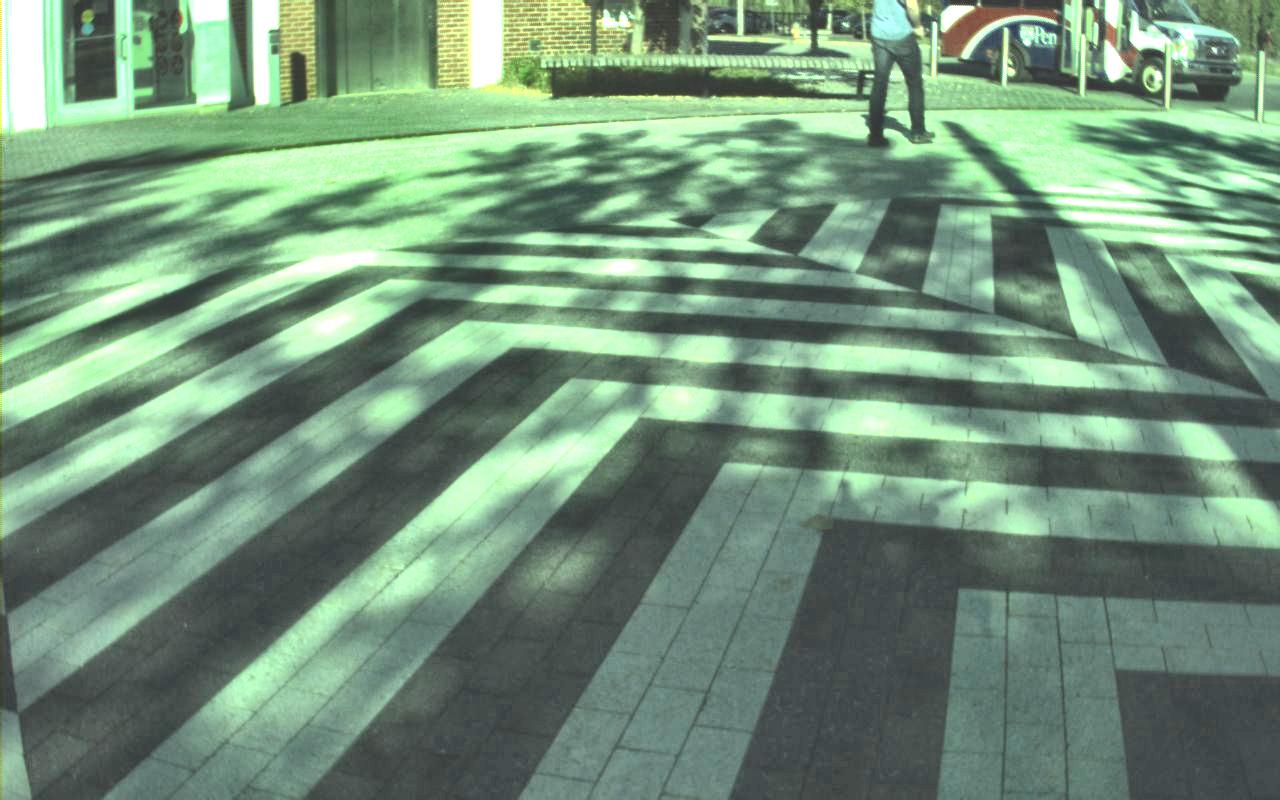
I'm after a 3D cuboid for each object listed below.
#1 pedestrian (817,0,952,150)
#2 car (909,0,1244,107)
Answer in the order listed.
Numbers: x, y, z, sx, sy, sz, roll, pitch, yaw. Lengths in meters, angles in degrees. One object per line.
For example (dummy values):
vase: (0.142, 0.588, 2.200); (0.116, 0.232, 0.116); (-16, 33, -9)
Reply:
pedestrian: (2.103, -2.921, 10.374); (0.898, 1.499, 0.774); (-14, 20, -39)
car: (8.120, -6.986, 21.944); (2.536, 2.417, 6.675); (-10, 19, -27)
